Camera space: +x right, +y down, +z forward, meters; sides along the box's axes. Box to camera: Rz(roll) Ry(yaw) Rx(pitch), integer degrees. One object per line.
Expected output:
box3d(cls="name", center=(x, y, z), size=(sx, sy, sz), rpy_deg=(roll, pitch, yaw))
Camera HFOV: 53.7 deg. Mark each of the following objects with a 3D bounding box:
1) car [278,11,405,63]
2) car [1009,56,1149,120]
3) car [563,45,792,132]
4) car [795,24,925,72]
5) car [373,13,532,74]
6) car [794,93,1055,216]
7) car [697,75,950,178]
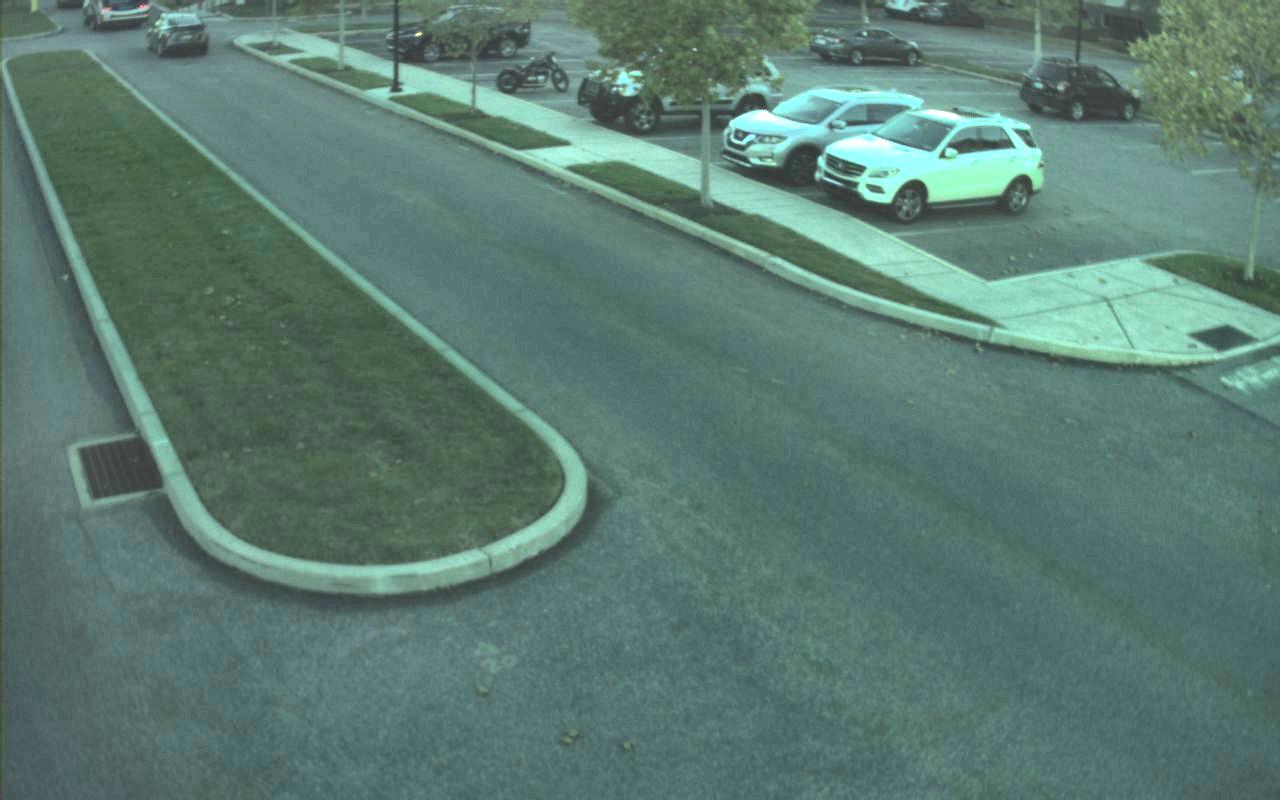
box3d(cls="car", center=(-11.556, -13.916, 46.101), size=(4.646, 1.674, 1.992), rpy_deg=(-11, 18, -30))
box3d(cls="car", center=(13.264, -9.300, 35.315), size=(4.676, 1.721, 2.019), rpy_deg=(-11, 19, -32))
box3d(cls="car", center=(0.879, -7.054, 27.821), size=(4.810, 1.784, 2.049), rpy_deg=(-10, 18, -29))
box3d(cls="car", center=(7.927, -12.576, 43.646), size=(4.567, 1.642, 1.987), rpy_deg=(-11, 18, -31))
box3d(cls="car", center=(-5.925, -11.225, 38.387), size=(4.678, 1.730, 2.005), rpy_deg=(-12, 19, -34))
box3d(cls="car", center=(5.195, -4.480, 21.869), size=(4.750, 1.861, 2.044), rpy_deg=(-11, 19, -32))
box3d(cls="car", center=(3.622, -5.364, 23.839), size=(4.734, 1.738, 2.020), rpy_deg=(-10, 18, -30))
